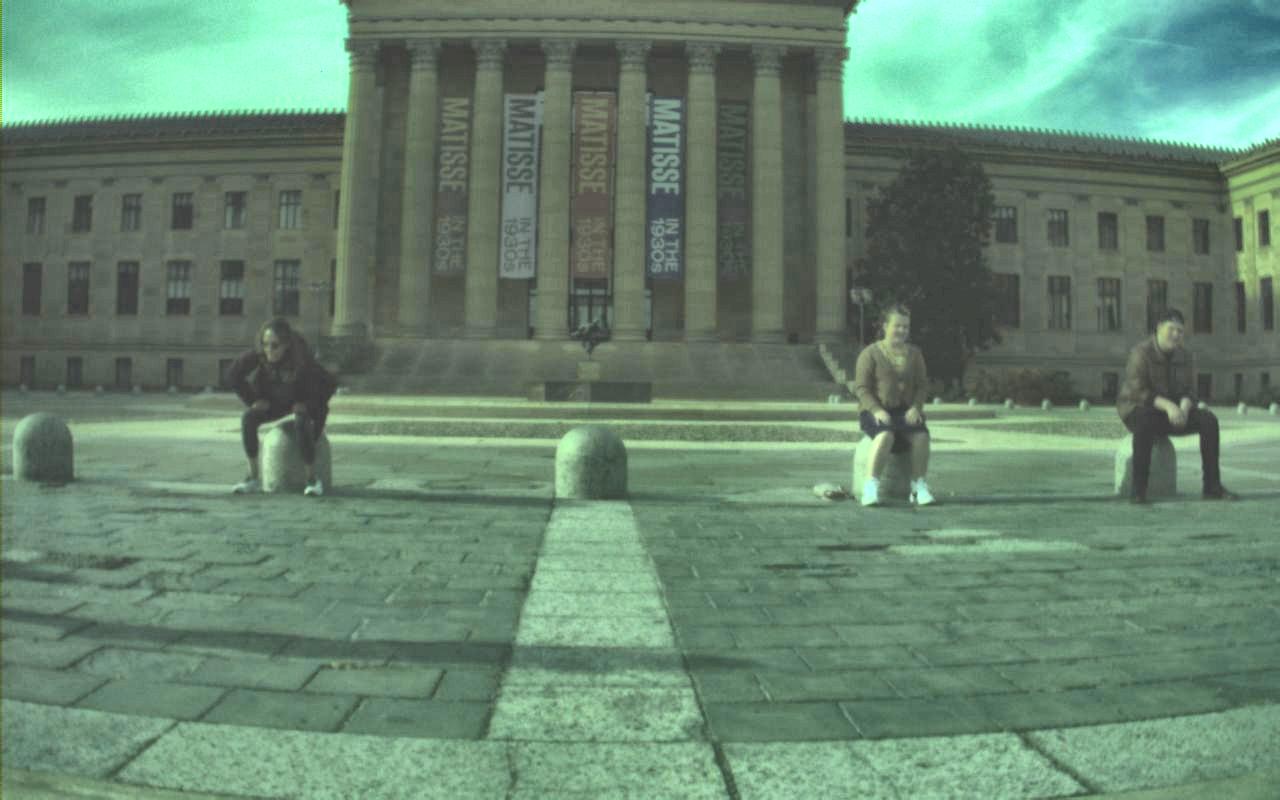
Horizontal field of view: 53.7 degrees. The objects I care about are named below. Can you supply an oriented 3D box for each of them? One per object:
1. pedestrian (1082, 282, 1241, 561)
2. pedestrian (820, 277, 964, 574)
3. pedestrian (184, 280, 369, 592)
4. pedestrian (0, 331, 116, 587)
[{"bbox_3d":[3.498,0.146,7.872,0.822,1.763,0.836,0,0,-2],"label":"pedestrian"},{"bbox_3d":[1.584,0.154,7.896,0.818,1.791,0.812,0,0,5],"label":"pedestrian"},{"bbox_3d":[-2.213,0.199,7.391,0.851,1.769,0.883,0,0,11],"label":"pedestrian"},{"bbox_3d":[-4.123,0.389,7.642,0.839,1.632,0.798,1,0,20],"label":"pedestrian"}]
